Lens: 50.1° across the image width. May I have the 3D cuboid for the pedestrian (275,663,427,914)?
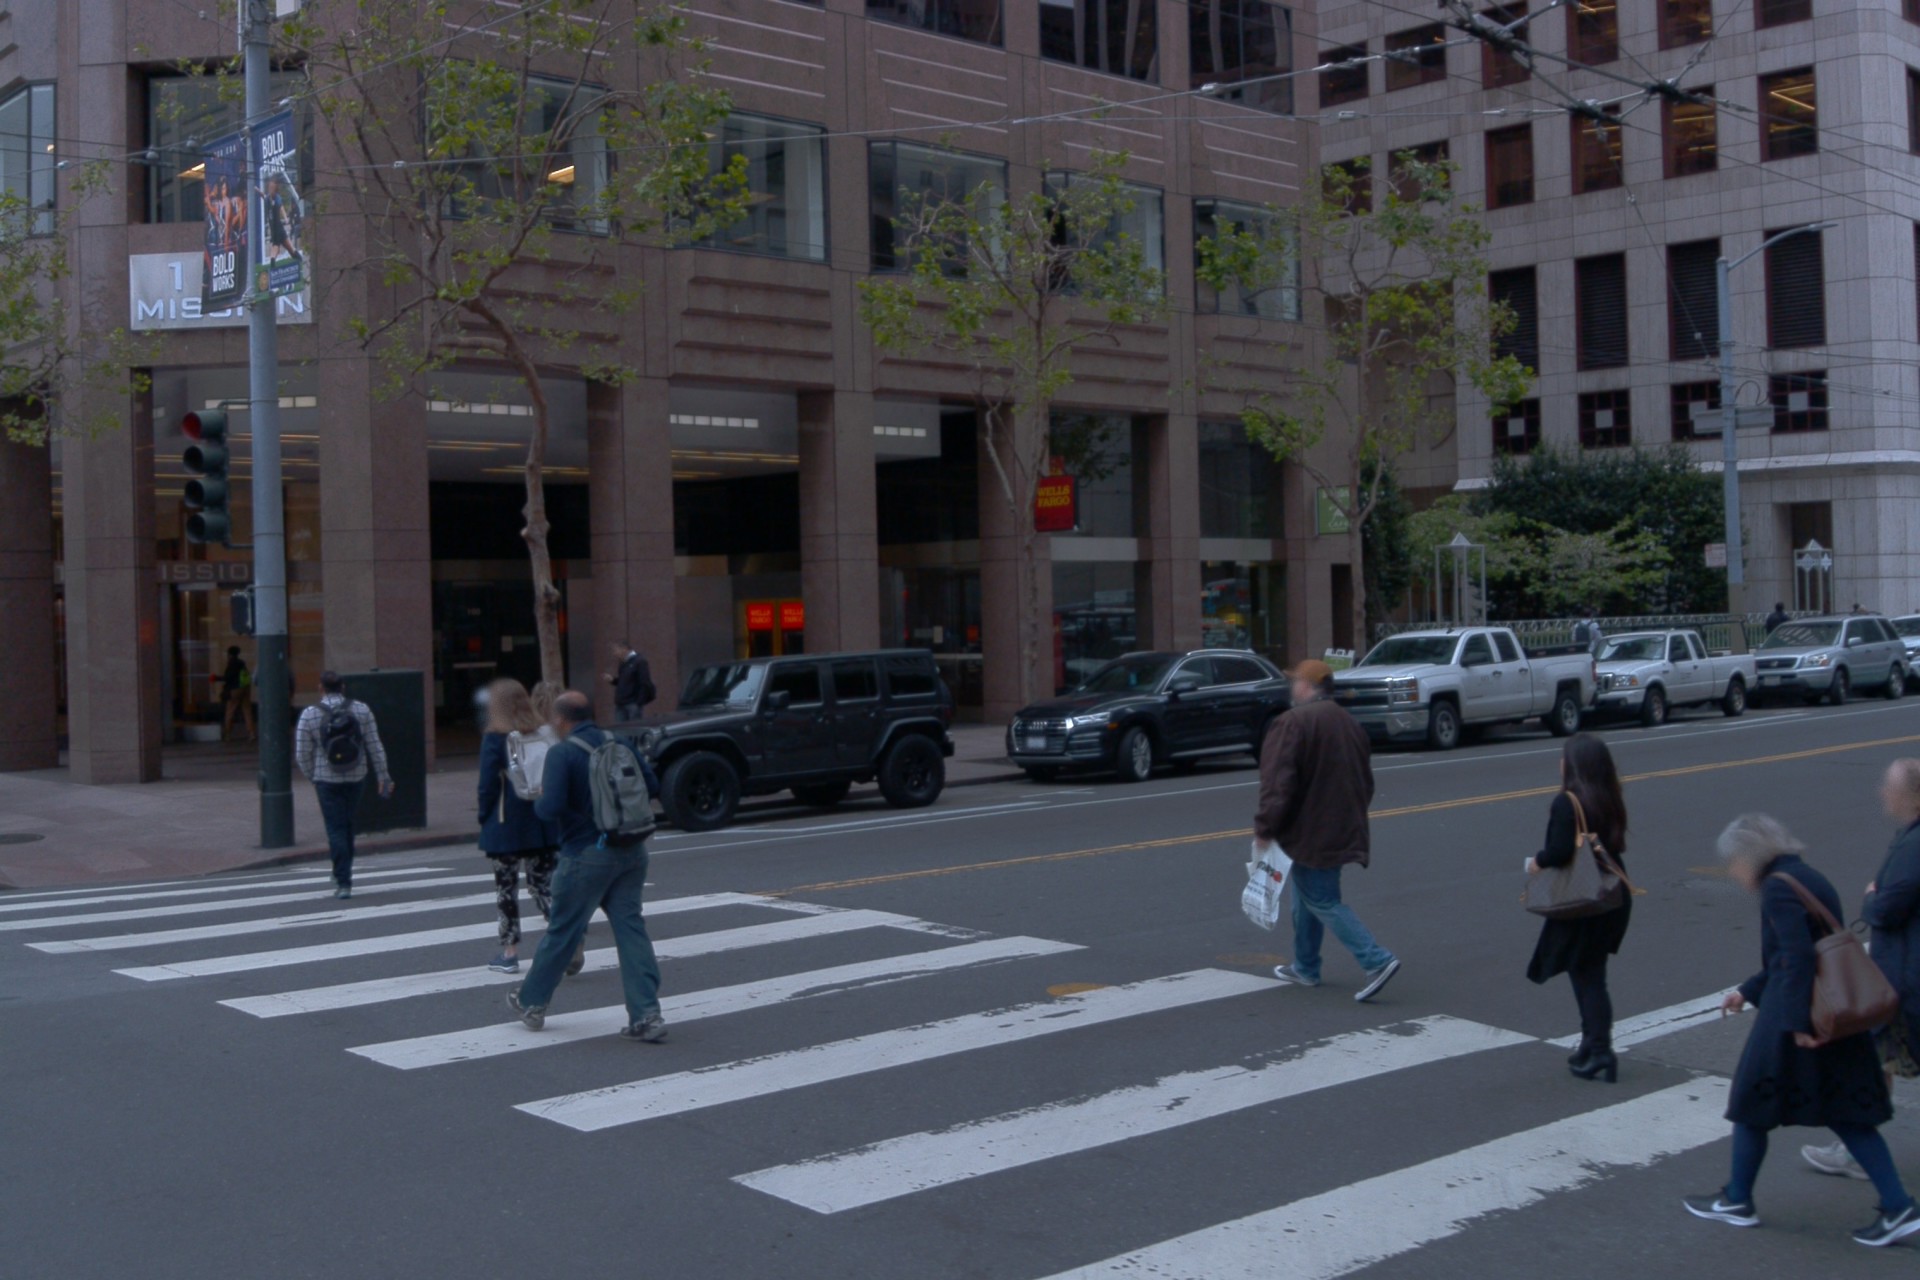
[{"bbox_3d":[-4.662,1.095,15.719,0.777,1.816,1.066,0,0,-37],"label":"pedestrian"}]

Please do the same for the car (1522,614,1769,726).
[{"bbox_3d":[12.306,0.466,36.723,2.076,1.850,5.227,0,1,45],"label":"car"}]

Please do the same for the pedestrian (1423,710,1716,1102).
[{"bbox_3d":[2.774,1.152,9.370,0.869,1.606,0.971,0,0,-43],"label":"pedestrian"}]

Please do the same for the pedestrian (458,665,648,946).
[{"bbox_3d":[-2.666,1.040,13.456,0.841,1.726,0.975,0,0,-41],"label":"pedestrian"}]

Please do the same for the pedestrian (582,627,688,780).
[{"bbox_3d":[-4.315,0.821,27.330,1.067,1.985,0.895,0,0,-43],"label":"pedestrian"}]

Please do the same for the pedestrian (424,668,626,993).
[{"bbox_3d":[-2.486,1.035,11.719,0.748,1.726,0.990,0,0,-40],"label":"pedestrian"}]

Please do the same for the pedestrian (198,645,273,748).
[{"bbox_3d":[-12.451,0.957,35.333,1.002,1.716,0.823,0,0,41],"label":"pedestrian"}]

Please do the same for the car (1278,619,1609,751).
[{"bbox_3d":[7.708,0.620,32.352,2.385,1.890,5.778,0,1,45],"label":"car"}]

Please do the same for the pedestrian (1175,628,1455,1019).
[{"bbox_3d":[1.911,0.920,11.092,1.152,1.968,0.950,0,0,43],"label":"pedestrian"}]

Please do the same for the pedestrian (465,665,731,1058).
[{"bbox_3d":[-1.774,1.024,10.072,1.010,1.776,0.829,0,0,41],"label":"pedestrian"}]

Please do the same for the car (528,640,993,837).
[{"bbox_3d":[-2.162,0.999,23.341,4.963,1.950,2.149,-1,1,-43],"label":"car"}]

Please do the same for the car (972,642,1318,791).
[{"bbox_3d":[2.548,0.945,27.538,4.539,1.770,2.126,-1,1,-43],"label":"car"}]
